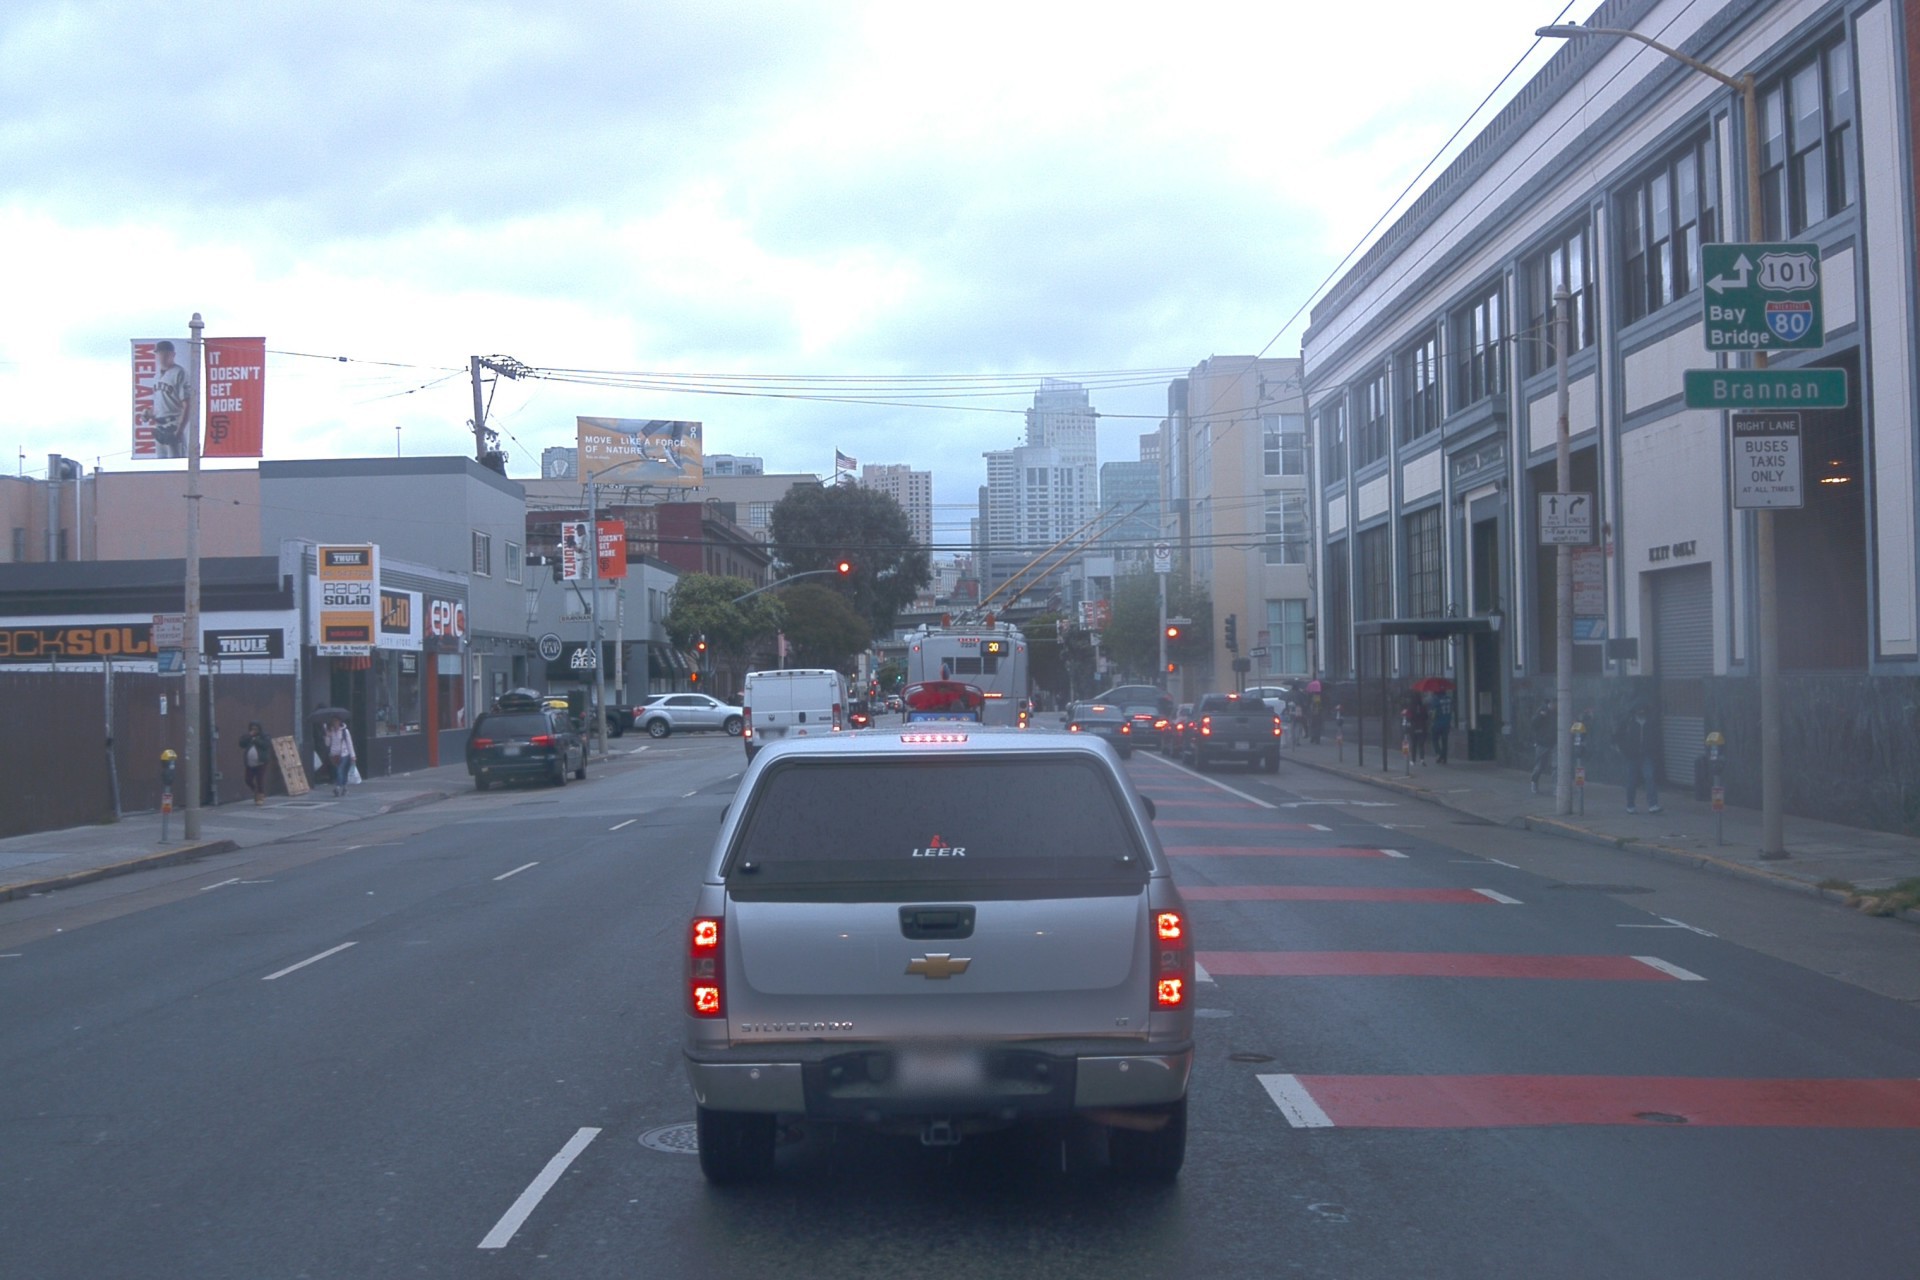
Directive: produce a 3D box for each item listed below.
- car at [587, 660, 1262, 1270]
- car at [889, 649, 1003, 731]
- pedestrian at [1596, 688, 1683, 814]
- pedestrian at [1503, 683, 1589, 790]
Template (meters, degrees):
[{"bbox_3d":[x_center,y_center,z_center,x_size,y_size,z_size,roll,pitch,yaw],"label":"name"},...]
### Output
[{"bbox_3d":[-0.105,1.213,9.969,2.437,2.200,4.924,0,-1,1],"label":"car"},{"bbox_3d":[-0.205,0.905,38.129,1.814,1.420,4.324,0,-1,3],"label":"car"},{"bbox_3d":[9.710,1.572,29.661,0.899,1.750,1.034,0,-1,0],"label":"pedestrian"},{"bbox_3d":[9.934,1.627,35.196,1.059,1.770,1.151,0,-1,-5],"label":"pedestrian"}]
